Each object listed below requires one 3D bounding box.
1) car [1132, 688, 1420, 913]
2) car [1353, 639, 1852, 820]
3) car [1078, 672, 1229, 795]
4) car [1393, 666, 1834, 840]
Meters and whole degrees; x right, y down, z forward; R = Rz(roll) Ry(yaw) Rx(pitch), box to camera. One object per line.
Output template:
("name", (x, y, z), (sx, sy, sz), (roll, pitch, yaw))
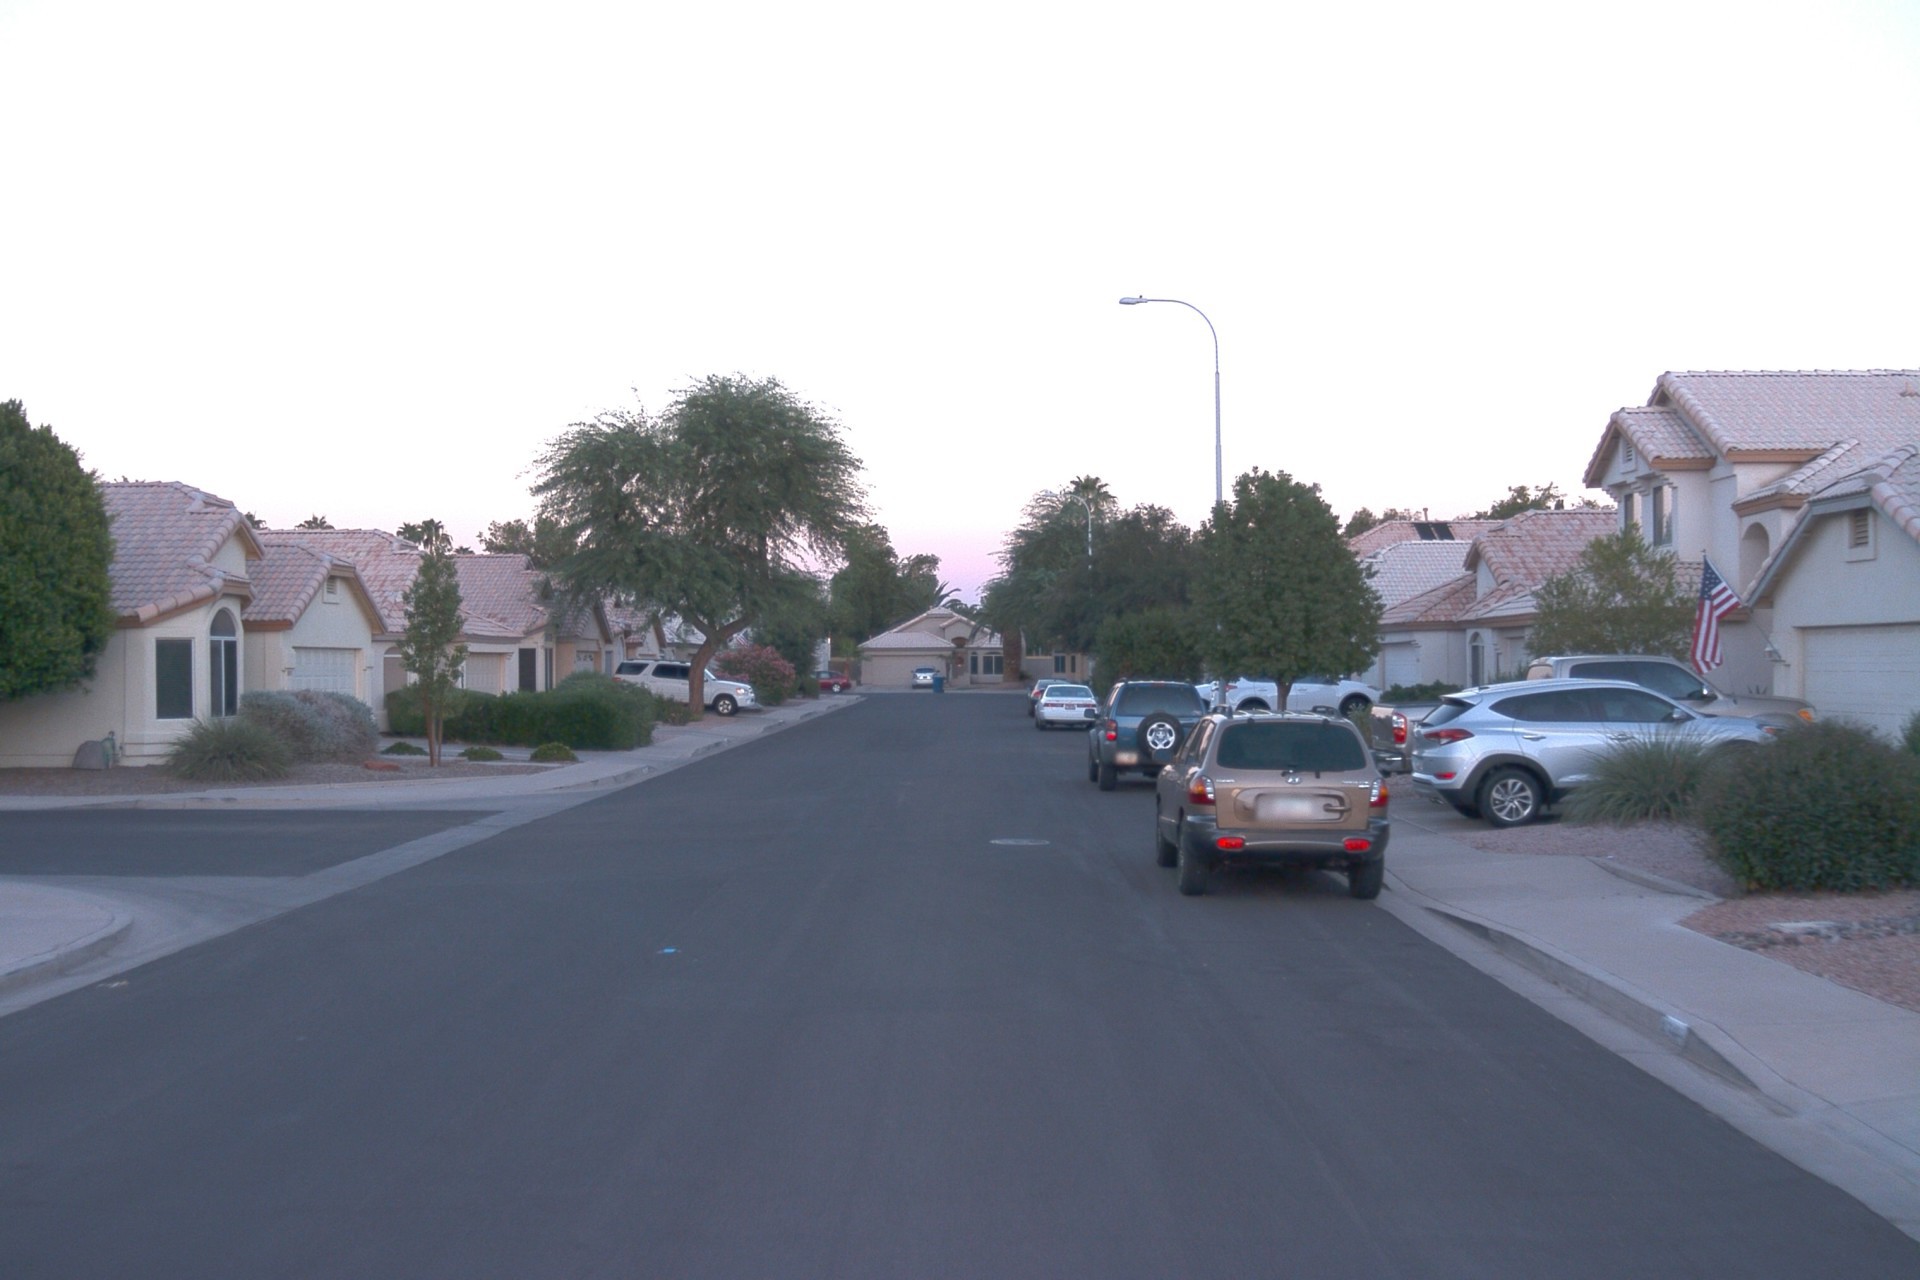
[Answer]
("car", (2.891, 1.422, 20.190), (2.117, 1.840, 4.827), (0, -1, 1))
("car", (8.268, 1.130, 27.345), (5.802, 2.210, 2.338), (0, 0, 2))
("car", (3.120, 1.487, 34.625), (2.113, 1.870, 4.649), (0, -1, 1))
("car", (7.568, 1.280, 24.550), (4.502, 1.920, 2.158), (0, -1, 1))
